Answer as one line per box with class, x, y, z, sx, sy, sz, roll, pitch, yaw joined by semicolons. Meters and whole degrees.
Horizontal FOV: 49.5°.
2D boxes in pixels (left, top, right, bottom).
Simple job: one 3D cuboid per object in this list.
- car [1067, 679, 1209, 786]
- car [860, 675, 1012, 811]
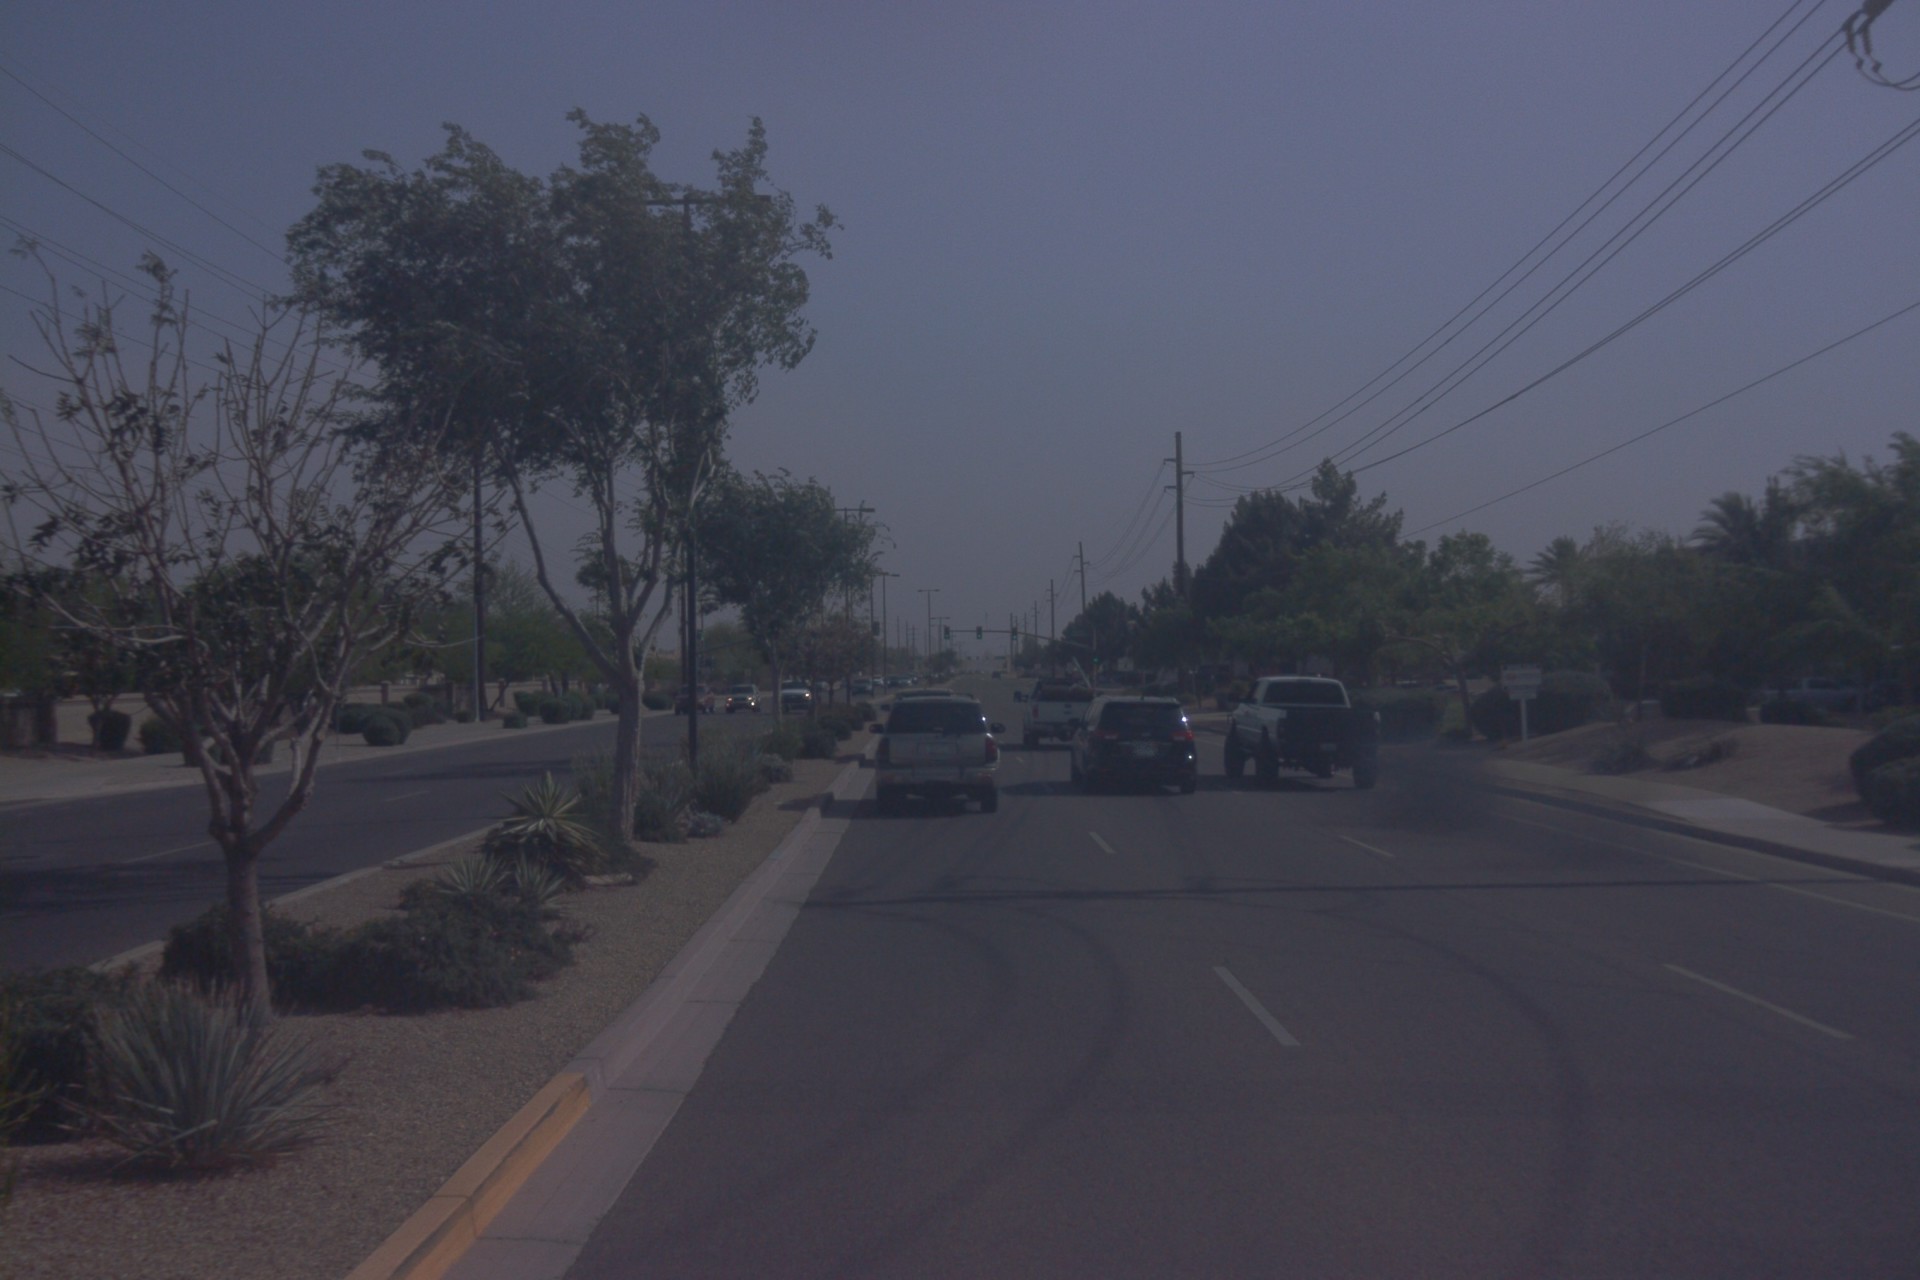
car;3.185;1.636;38.298;2.145;1.800;4.883;0;-1;0
car;-0.365;1.542;32.729;2.201;1.960;4.684;0;-1;0
